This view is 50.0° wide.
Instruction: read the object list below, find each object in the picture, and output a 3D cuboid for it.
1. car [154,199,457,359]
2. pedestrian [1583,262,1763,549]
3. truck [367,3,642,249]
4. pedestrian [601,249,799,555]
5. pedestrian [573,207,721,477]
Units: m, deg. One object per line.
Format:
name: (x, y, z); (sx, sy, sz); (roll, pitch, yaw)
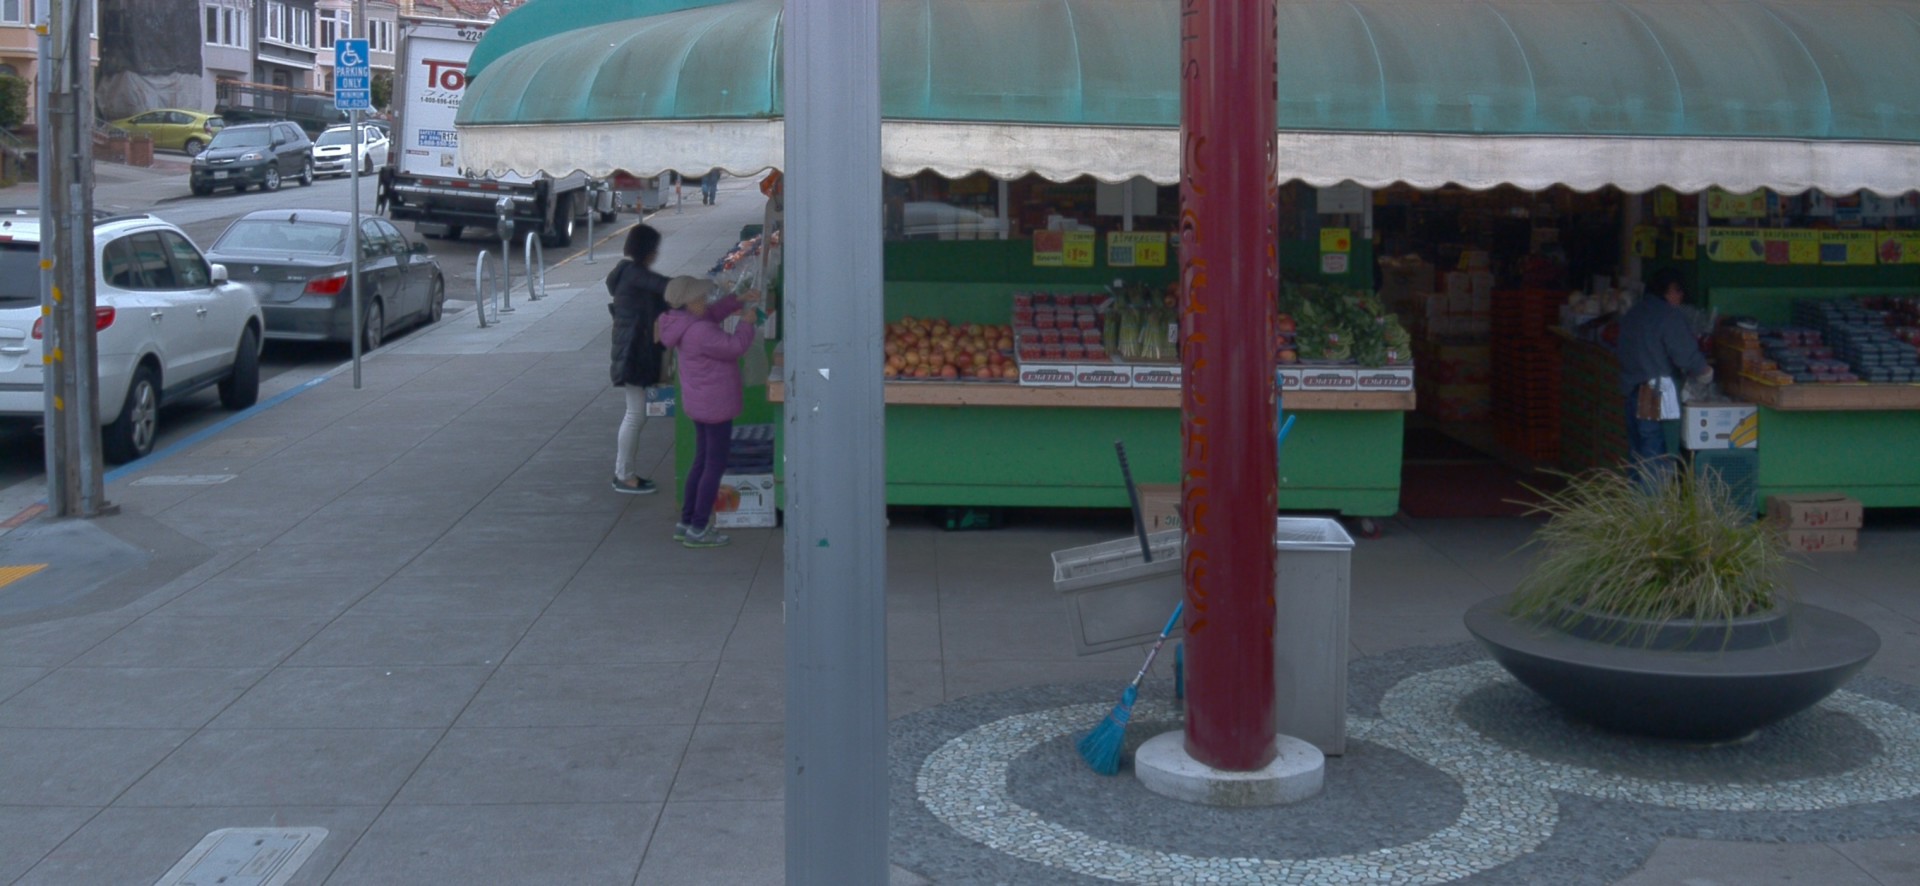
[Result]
car: (-6.789, -1.806, 21.876); (1.969, 1.513, 4.609); (0, 6, -3)
pedestrian: (4.011, -0.237, 11.624); (0.743, 1.557, 0.755); (0, 2, 0)
truck: (-7.807, -5.425, 36.806); (2.914, 3.770, 10.115); (0, 5, -1)
pedestrian: (-1.404, -0.260, 11.156); (0.705, 1.564, 0.798); (2, 3, 40)
pedestrian: (-1.952, -0.655, 12.769); (0.796, 1.607, 0.823); (-1, 2, -17)
